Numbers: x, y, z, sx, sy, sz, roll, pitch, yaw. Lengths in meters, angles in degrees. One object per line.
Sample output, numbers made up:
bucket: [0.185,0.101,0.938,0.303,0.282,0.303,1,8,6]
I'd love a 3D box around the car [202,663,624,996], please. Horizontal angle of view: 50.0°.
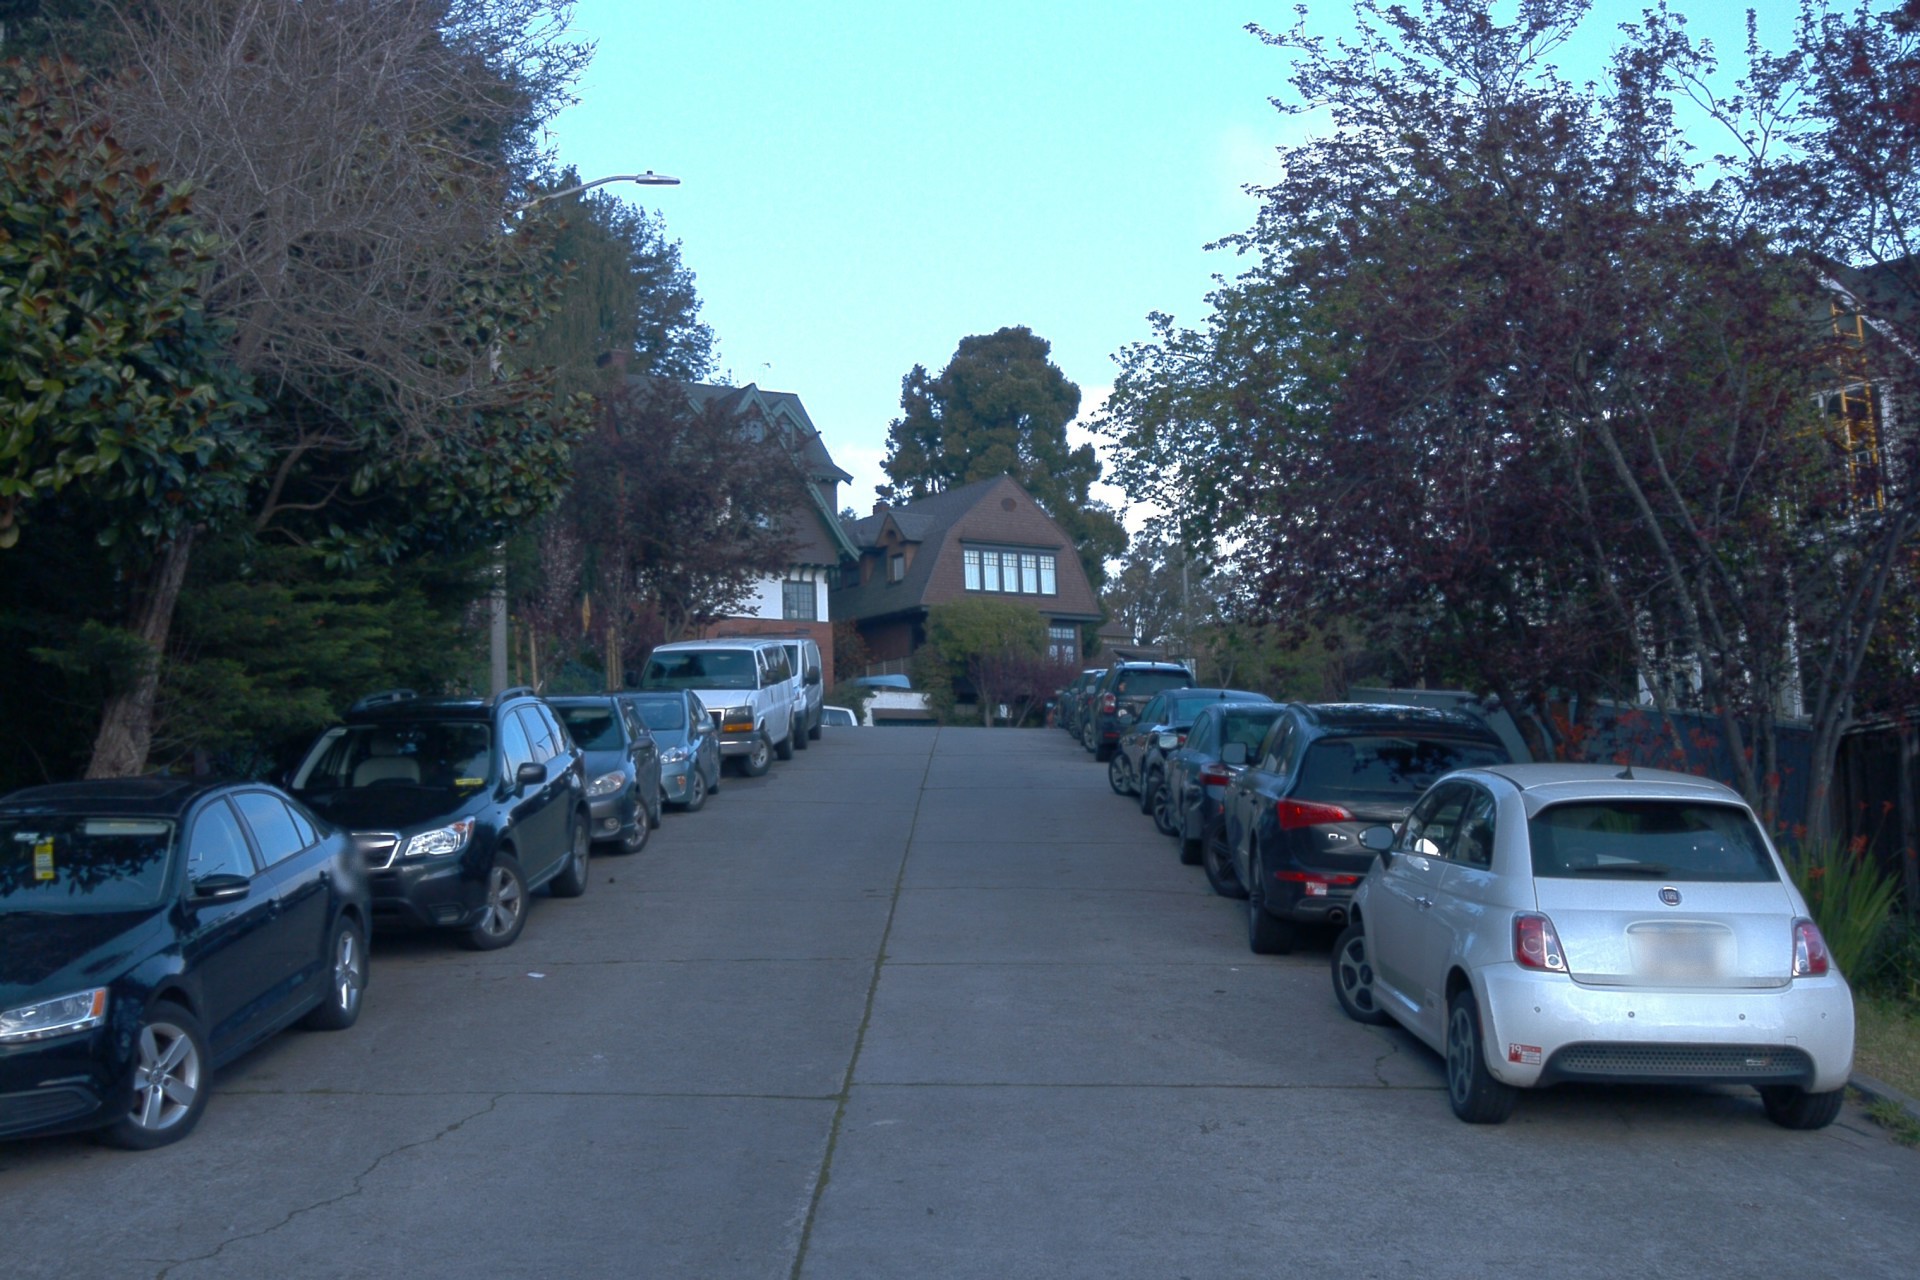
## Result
car: [-3.825,1.218,15.318,1.892,2.043,4.696,0,0,0]

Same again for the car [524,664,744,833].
car: [-4.013,1.283,26.175,2.088,1.898,4.625,0,0,0]

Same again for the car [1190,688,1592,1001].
car: [2.901,1.303,15.014,2.179,1.798,4.801,0,0,3]

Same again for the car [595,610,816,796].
car: [-3.908,0.912,32.975,2.606,2.694,6.252,0,0,1]

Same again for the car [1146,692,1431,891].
car: [3.022,1.356,20.023,2.089,1.581,4.817,0,0,1]

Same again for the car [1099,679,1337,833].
car: [3.033,1.335,25.348,2.199,1.617,5.002,0,0,-1]

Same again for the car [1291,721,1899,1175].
car: [2.886,1.323,10.237,1.798,1.690,3.710,0,0,-2]

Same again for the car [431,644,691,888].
car: [-3.973,1.168,21.242,1.968,2.243,4.422,0,0,-2]

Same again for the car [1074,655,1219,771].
car: [3.104,1.178,35.225,2.162,1.810,4.637,0,0,1]
